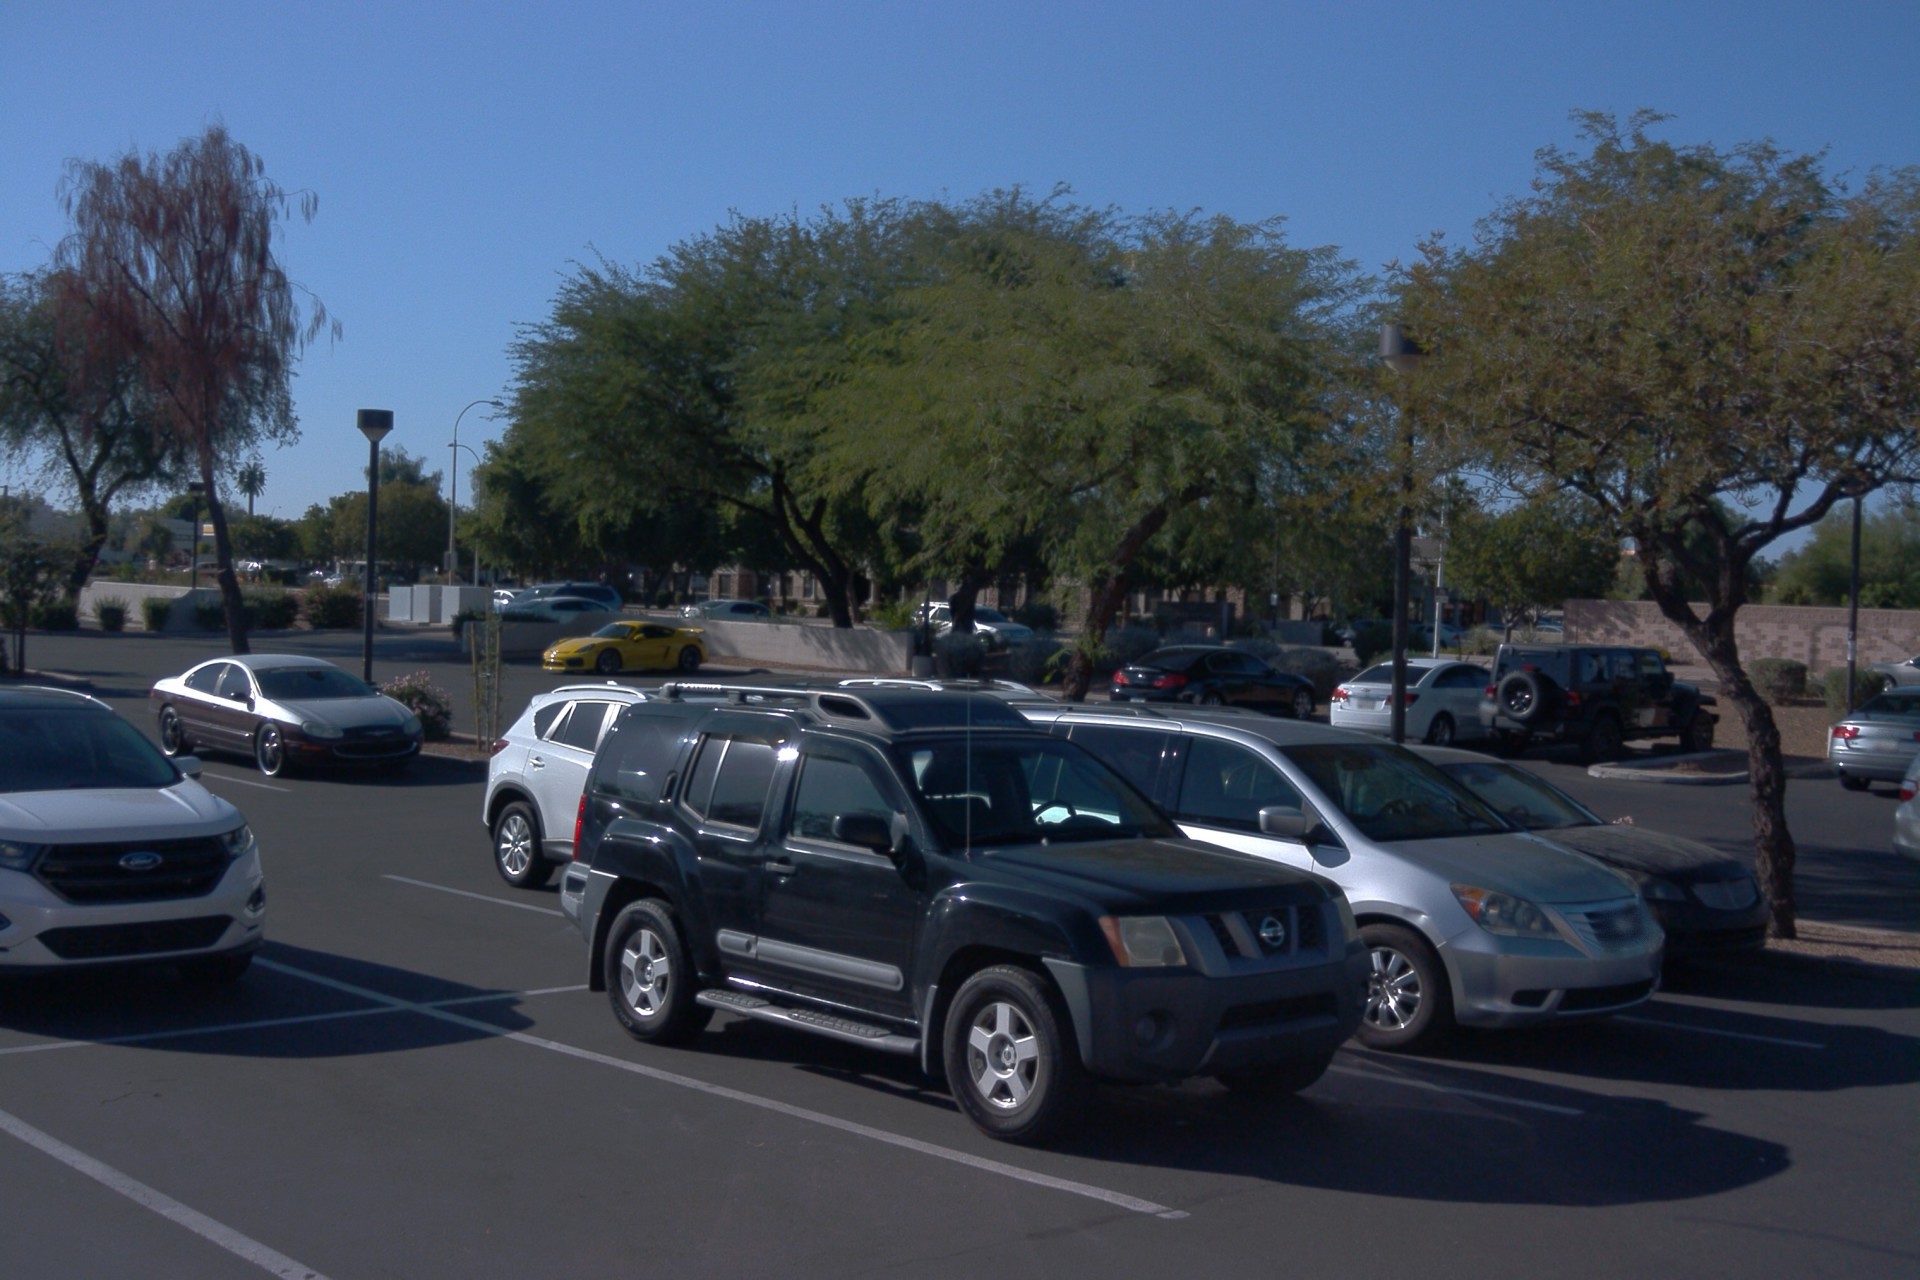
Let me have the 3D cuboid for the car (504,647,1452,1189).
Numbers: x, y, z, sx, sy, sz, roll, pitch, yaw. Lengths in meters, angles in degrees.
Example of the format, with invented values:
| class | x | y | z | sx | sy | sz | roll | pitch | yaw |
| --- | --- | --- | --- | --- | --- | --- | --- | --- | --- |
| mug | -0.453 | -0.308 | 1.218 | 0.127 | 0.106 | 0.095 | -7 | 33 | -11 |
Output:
| class | x | y | z | sx | sy | sz | roll | pitch | yaw |
| --- | --- | --- | --- | --- | --- | --- | --- | --- | --- |
| car | -0.138 | 1.093 | 10.495 | 2.178 | 2.050 | 4.676 | 1 | 0 | -42 |

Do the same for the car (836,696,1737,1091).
| class | x | y | z | sx | sy | sz | roll | pitch | yaw |
| --- | --- | --- | --- | --- | --- | --- | --- | --- | --- |
| car | 1.802 | 1.311 | 12.715 | 5.039 | 1.780 | 2.248 | 1 | 0 | 43 |

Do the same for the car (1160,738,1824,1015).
| class | x | y | z | sx | sy | sz | roll | pitch | yaw |
| --- | --- | --- | --- | --- | --- | --- | --- | --- | --- |
| car | 3.724 | 1.566 | 15.037 | 2.073 | 1.490 | 4.184 | 1 | 0 | -43 |

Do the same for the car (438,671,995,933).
| class | x | y | z | sx | sy | sz | roll | pitch | yaw |
| --- | --- | --- | --- | --- | --- | --- | --- | --- | --- |
| car | -2.060 | 1.147 | 16.617 | 2.160 | 1.720 | 4.434 | 1 | 0 | -44 |

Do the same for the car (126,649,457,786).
| class | x | y | z | sx | sy | sz | roll | pitch | yaw |
| --- | --- | --- | --- | --- | --- | --- | --- | --- | --- |
| car | -8.971 | 0.959 | 27.588 | 2.114 | 1.600 | 5.046 | 1 | 0 | -45 |

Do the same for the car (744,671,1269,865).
| class | x | y | z | sx | sy | sz | roll | pitch | yaw |
| --- | --- | --- | --- | --- | --- | --- | --- | --- | --- |
| car | 0.305 | 1.051 | 18.903 | 2.057 | 1.460 | 4.663 | 1 | 0 | -44 |

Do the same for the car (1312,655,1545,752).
| class | x | y | z | sx | sy | sz | roll | pitch | yaw |
| --- | --- | --- | --- | --- | --- | --- | --- | --- | --- |
| car | 7.876 | 1.033 | 34.738 | 3.932 | 1.500 | 1.889 | 1 | 0 | -43 |

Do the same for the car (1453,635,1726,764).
| class | x | y | z | sx | sy | sz | roll | pitch | yaw |
| --- | --- | --- | --- | --- | --- | --- | --- | --- | --- |
| car | 10.131 | 0.905 | 33.224 | 4.751 | 1.910 | 2.026 | 1 | 0 | -43 |
